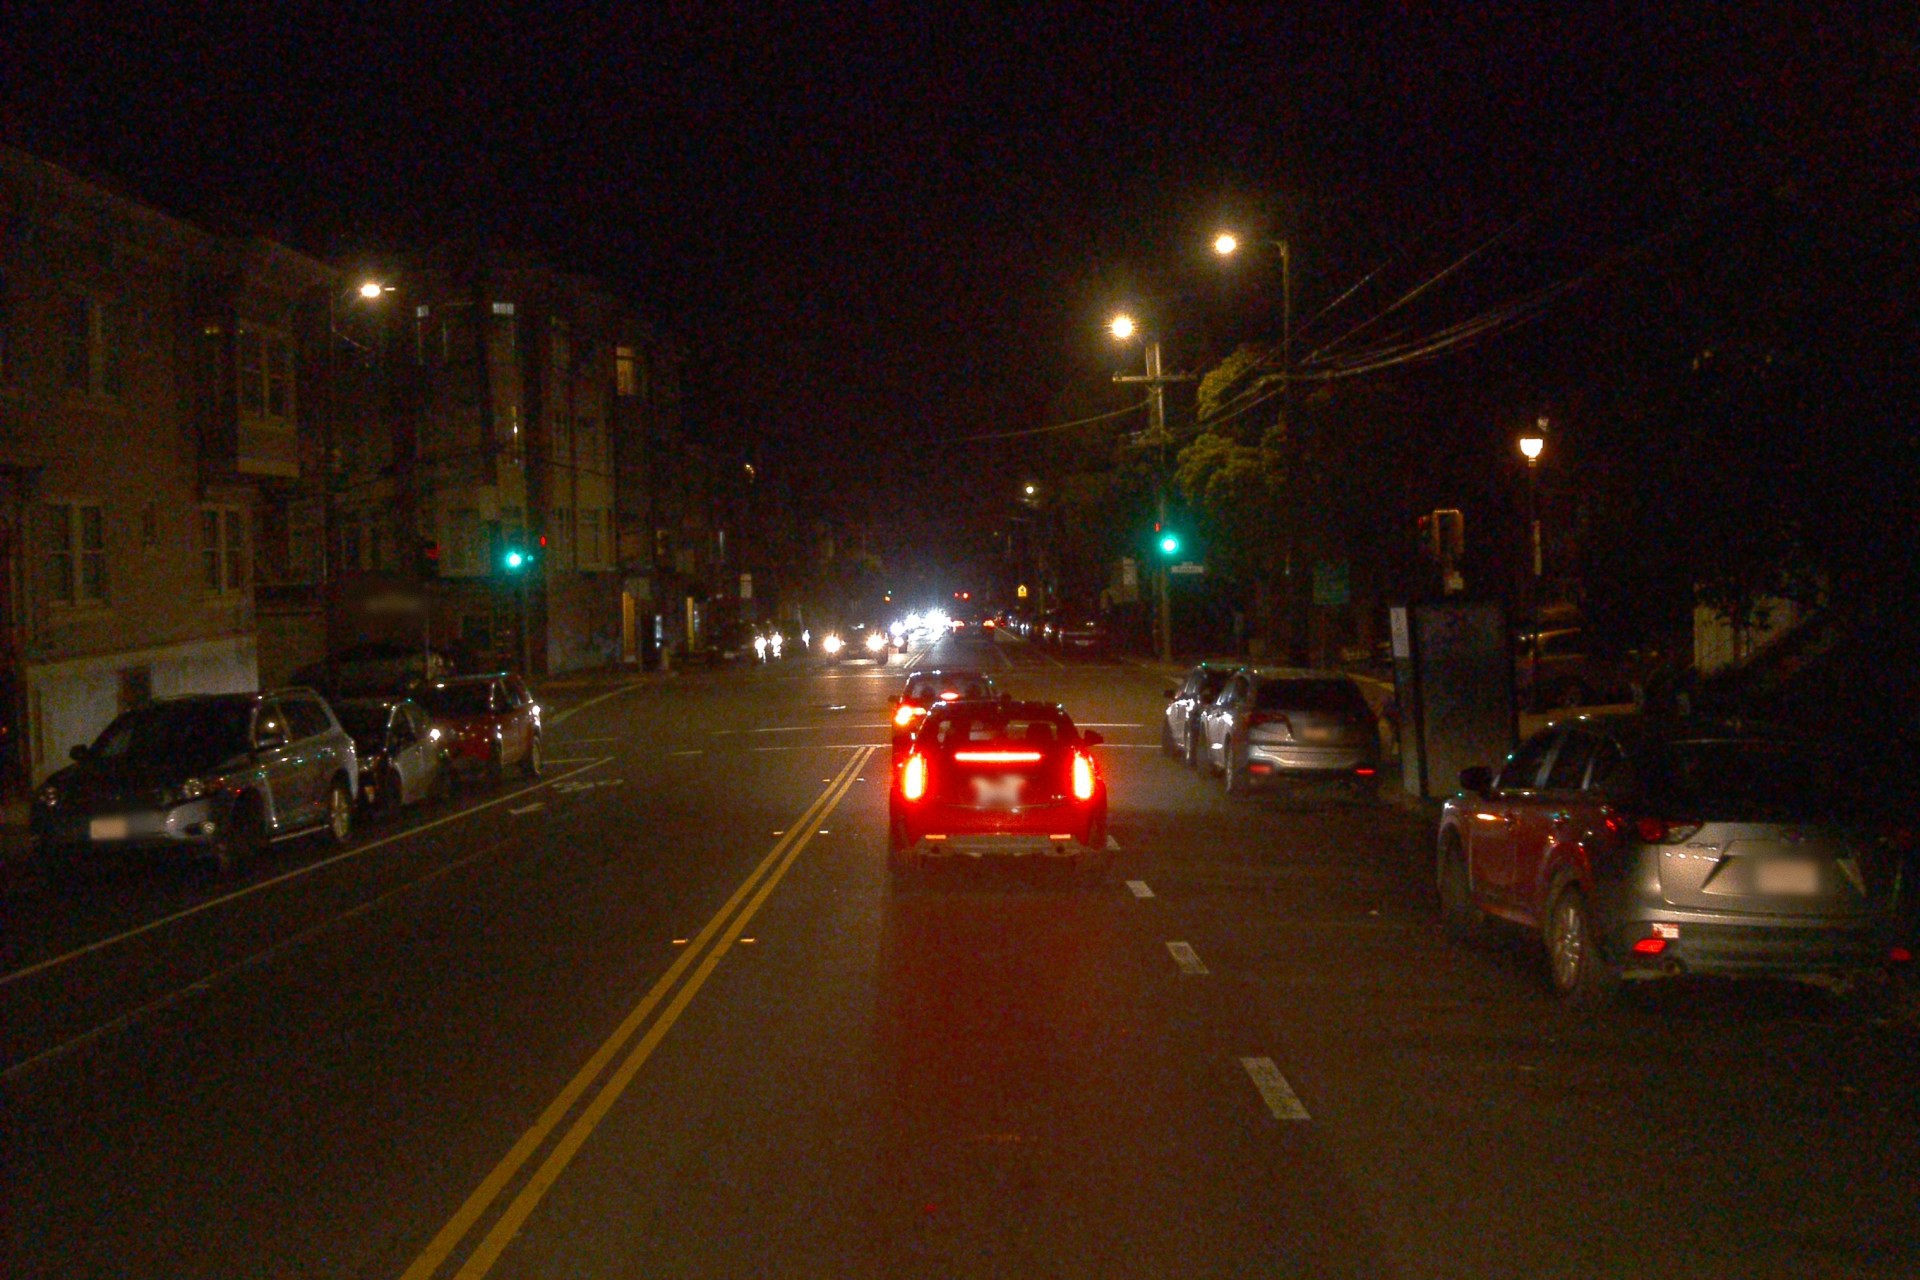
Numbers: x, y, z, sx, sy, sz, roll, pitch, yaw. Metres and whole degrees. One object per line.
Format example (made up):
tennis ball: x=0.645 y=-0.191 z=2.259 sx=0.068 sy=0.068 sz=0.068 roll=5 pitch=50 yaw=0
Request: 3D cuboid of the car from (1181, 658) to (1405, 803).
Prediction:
car: x=4.344 y=1.125 z=27.457 sx=2.250 sy=1.690 sz=4.768 roll=1 pitch=0 yaw=1

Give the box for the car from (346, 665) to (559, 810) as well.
car: x=-7.510 y=1.384 z=30.738 sx=1.998 sy=1.910 sz=4.650 roll=1 pitch=0 yaw=1

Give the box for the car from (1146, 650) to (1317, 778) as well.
car: x=4.252 y=1.116 z=32.766 sx=2.084 sy=1.830 sz=4.587 roll=1 pitch=0 yaw=0

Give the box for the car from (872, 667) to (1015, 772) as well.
car: x=-0.220 y=1.195 z=32.231 sx=2.071 sy=1.420 sz=4.587 roll=1 pitch=0 yaw=1

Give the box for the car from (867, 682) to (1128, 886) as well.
car: x=0.346 y=1.195 z=18.517 sx=2.067 sy=1.490 sz=4.418 roll=1 pitch=0 yaw=1

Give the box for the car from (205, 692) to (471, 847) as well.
car: x=-7.742 y=1.559 z=25.922 sx=2.053 sy=1.640 sz=4.520 roll=0 pitch=0 yaw=-1
